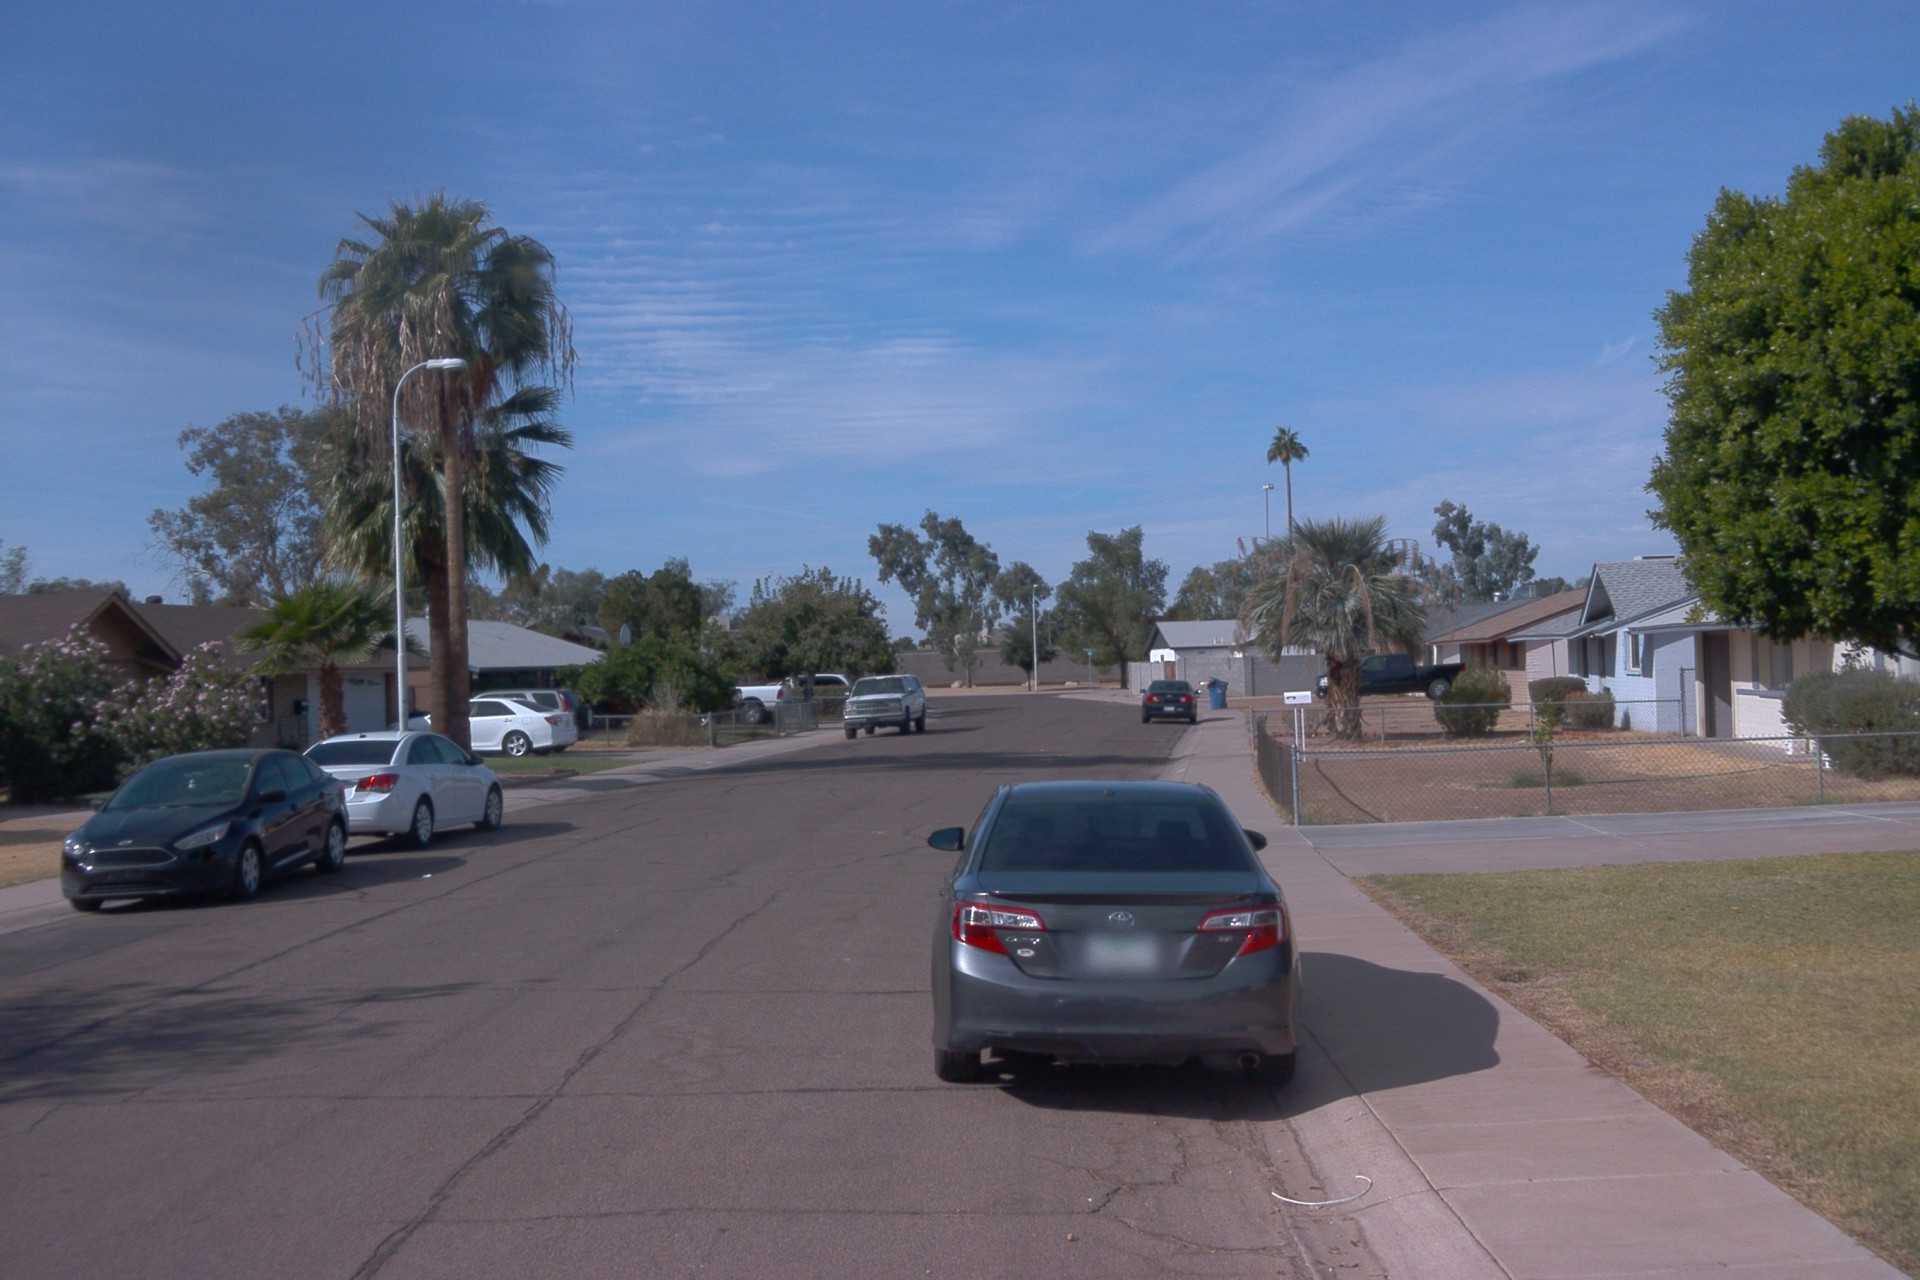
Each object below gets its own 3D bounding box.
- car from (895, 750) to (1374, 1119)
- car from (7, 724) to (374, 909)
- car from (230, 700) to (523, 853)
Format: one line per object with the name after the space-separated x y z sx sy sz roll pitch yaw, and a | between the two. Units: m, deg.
0.808 1.455 11.862 2.150 1.470 5.012 0 -1 1 | car
-7.784 1.730 21.559 2.055 1.610 4.523 0 -1 1 | car
-7.477 1.694 27.168 2.079 1.770 4.631 0 -1 7 | car
